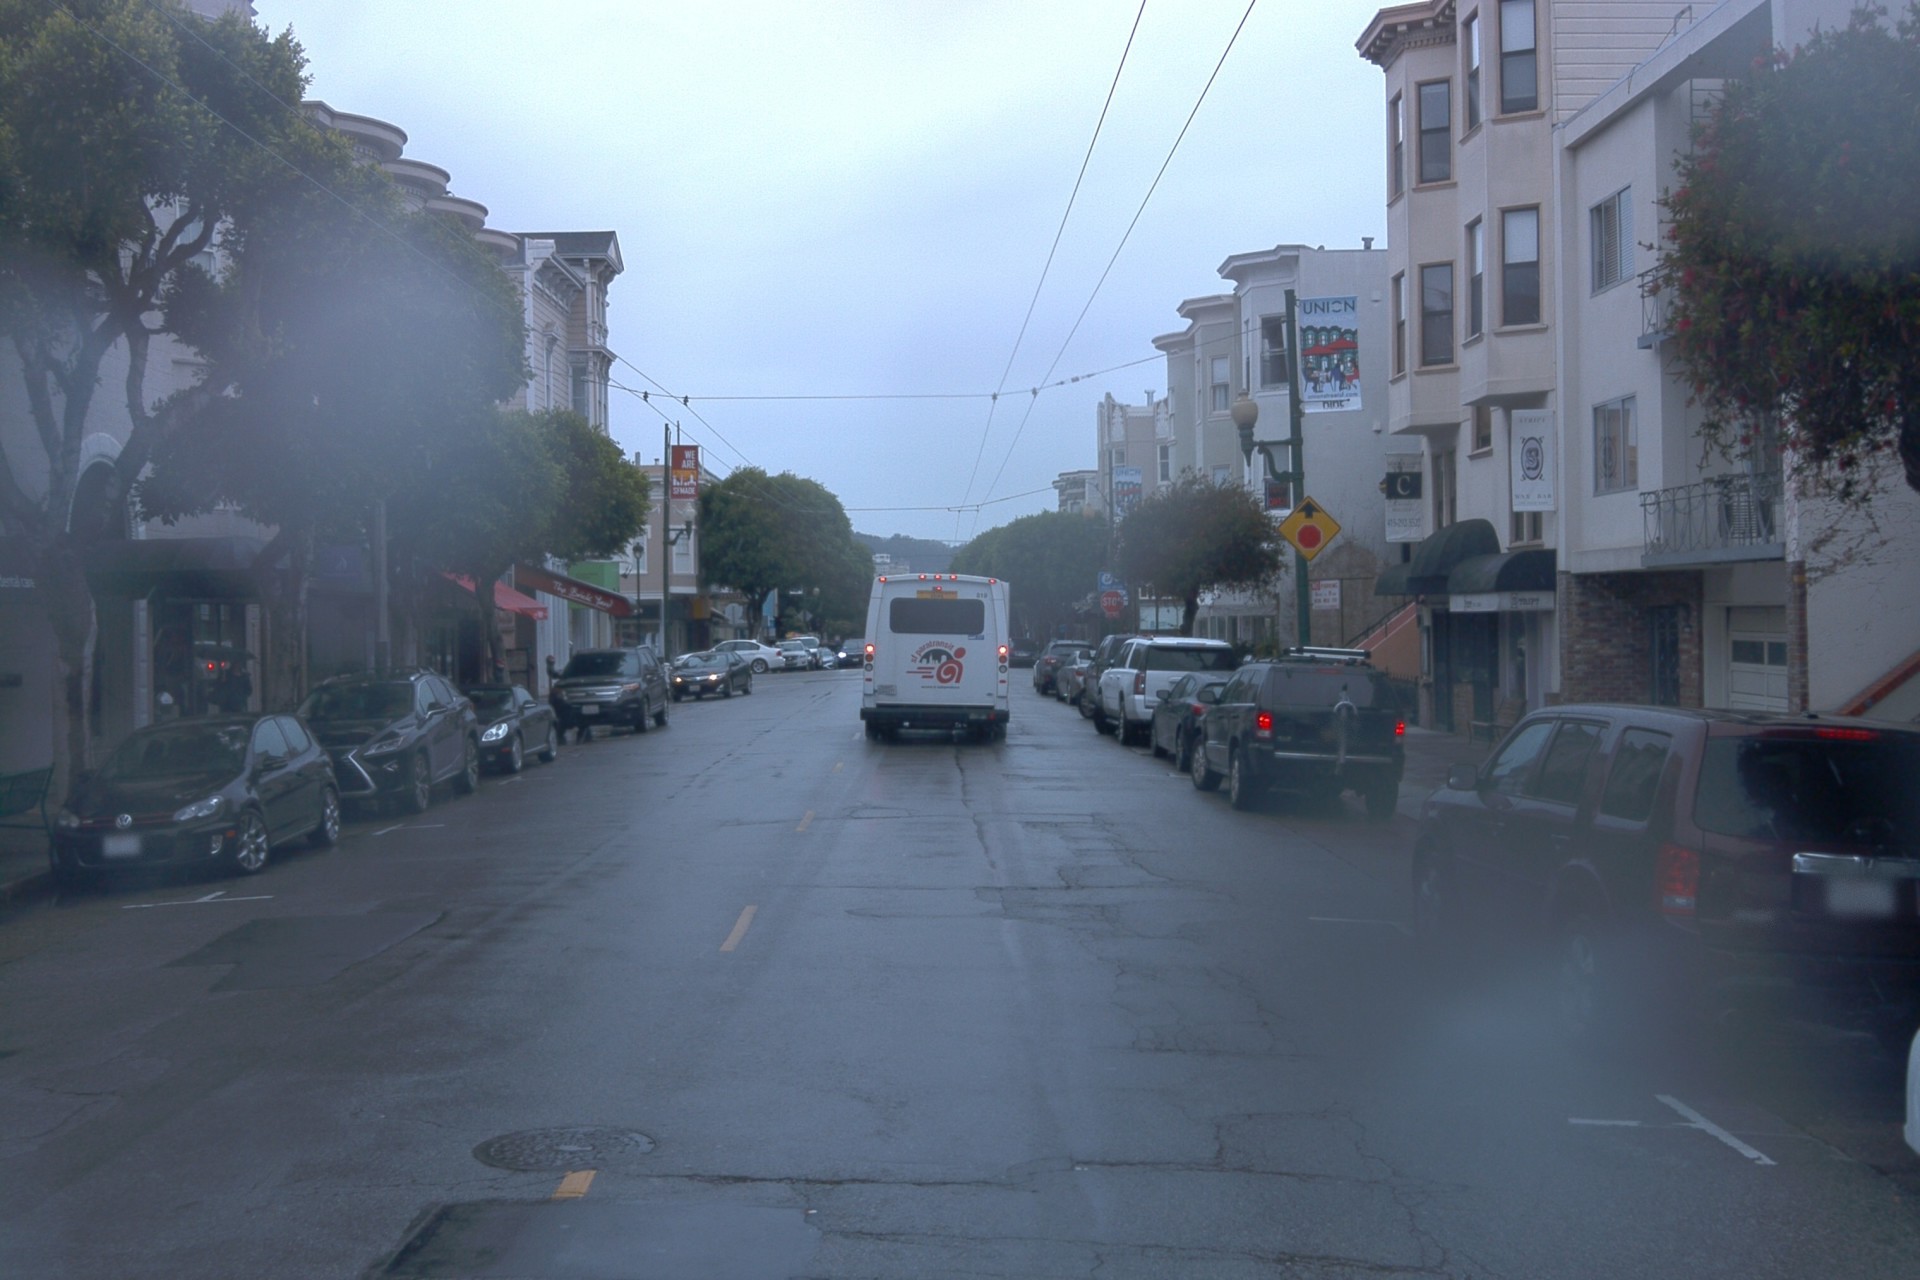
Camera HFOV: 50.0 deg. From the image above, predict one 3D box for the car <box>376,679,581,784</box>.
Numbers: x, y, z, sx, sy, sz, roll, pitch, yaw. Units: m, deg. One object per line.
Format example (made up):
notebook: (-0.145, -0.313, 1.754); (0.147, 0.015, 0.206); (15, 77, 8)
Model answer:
car: (-7.444, 1.374, 32.339); (2.075, 1.380, 4.645); (1, 1, 1)

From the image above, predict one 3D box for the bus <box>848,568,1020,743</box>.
bus: (-0.453, 0.220, 37.126); (2.787, 2.850, 6.706); (1, 1, 0)

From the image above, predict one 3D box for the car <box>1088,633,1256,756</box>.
car: (3.671, 0.891, 36.758); (2.169, 1.980, 5.541); (1, 1, -3)

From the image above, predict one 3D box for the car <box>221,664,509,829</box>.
car: (-7.388, 1.251, 26.181); (2.238, 1.770, 4.986); (1, 1, 0)

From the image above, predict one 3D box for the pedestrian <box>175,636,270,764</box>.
pedestrian: (-11.420, 0.915, 31.952); (1.100, 1.928, 1.113); (1, 0, -2)

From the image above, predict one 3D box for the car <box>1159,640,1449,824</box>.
car: (3.951, 0.993, 24.803); (2.217, 1.890, 5.480); (1, 1, -4)
